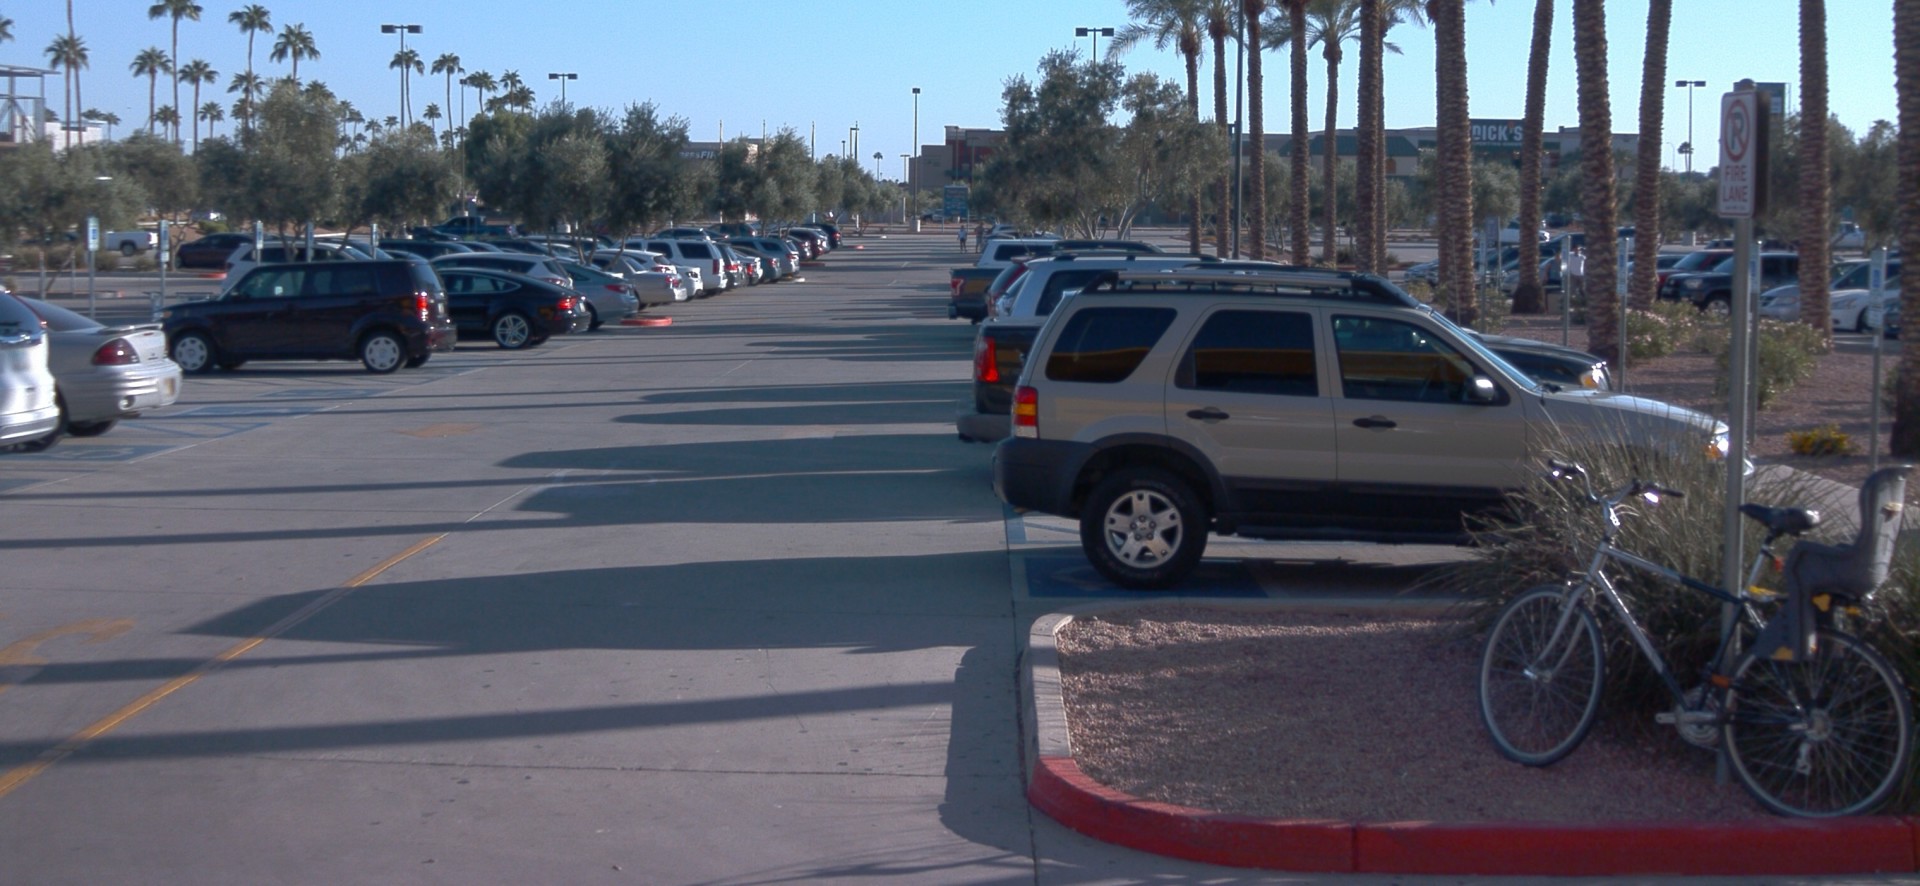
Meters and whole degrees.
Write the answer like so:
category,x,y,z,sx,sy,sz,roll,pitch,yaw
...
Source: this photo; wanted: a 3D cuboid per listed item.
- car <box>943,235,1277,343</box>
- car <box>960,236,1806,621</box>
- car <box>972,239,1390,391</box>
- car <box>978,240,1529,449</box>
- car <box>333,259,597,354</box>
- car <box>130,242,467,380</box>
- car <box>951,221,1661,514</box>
category,x,y,z,sx,sy,sz,roll,pitch,yaw
car,2.733,-2.933,39.073,6.084,1.845,2.452,1,4,-1
car,2.415,-0.206,12.464,4.569,1.986,2.008,2,3,7
car,2.731,-1.673,26.498,5.084,1.755,2.150,1,4,1
car,2.713,-1.015,19.926,4.916,1.765,2.428,1,4,4
car,-8.573,-2.407,36.210,4.169,1.516,1.898,1,4,-2
car,-9.317,-1.903,29.480,4.169,1.816,1.897,1,3,-2
car,2.644,-0.697,16.885,5.349,2.135,2.267,1,4,1
